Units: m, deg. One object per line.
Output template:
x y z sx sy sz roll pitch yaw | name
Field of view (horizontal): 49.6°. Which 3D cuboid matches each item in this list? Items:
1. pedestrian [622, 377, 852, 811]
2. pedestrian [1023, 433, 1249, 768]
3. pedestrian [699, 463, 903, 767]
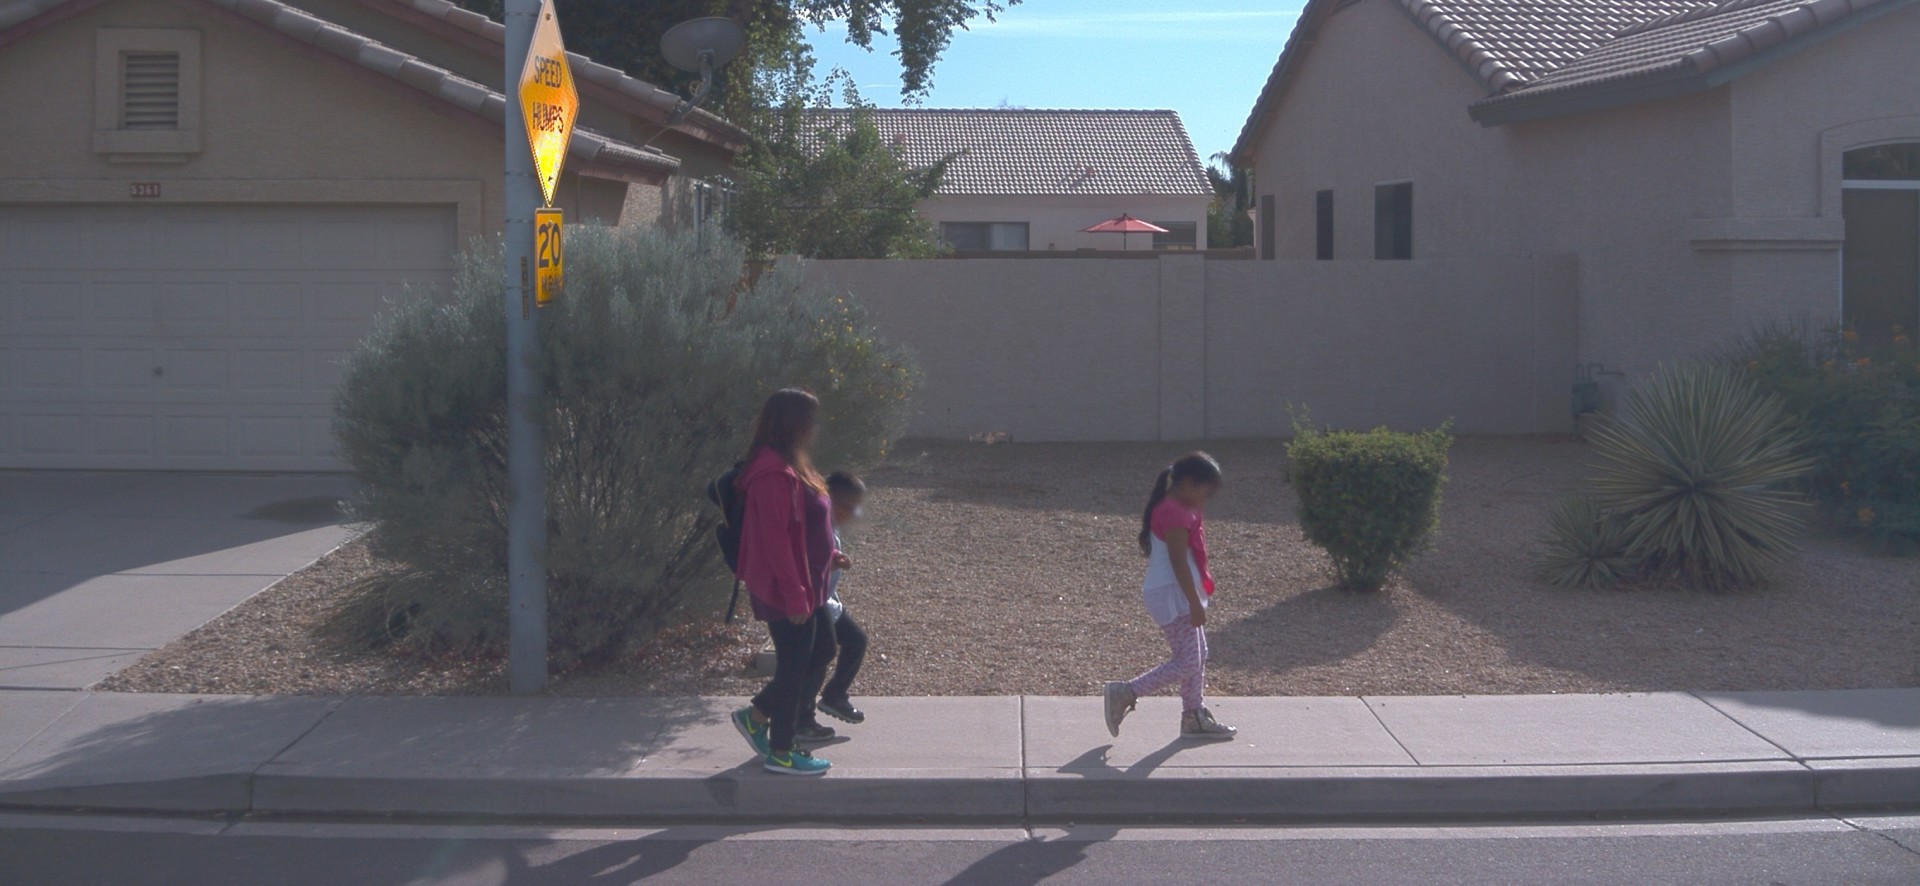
-0.863 0.558 8.233 0.850 1.577 0.785 0 2 -2 | pedestrian
0.719 0.634 8.717 0.878 1.268 0.763 0 2 0 | pedestrian
-0.654 0.700 8.757 0.794 1.148 0.694 0 2 1 | pedestrian
